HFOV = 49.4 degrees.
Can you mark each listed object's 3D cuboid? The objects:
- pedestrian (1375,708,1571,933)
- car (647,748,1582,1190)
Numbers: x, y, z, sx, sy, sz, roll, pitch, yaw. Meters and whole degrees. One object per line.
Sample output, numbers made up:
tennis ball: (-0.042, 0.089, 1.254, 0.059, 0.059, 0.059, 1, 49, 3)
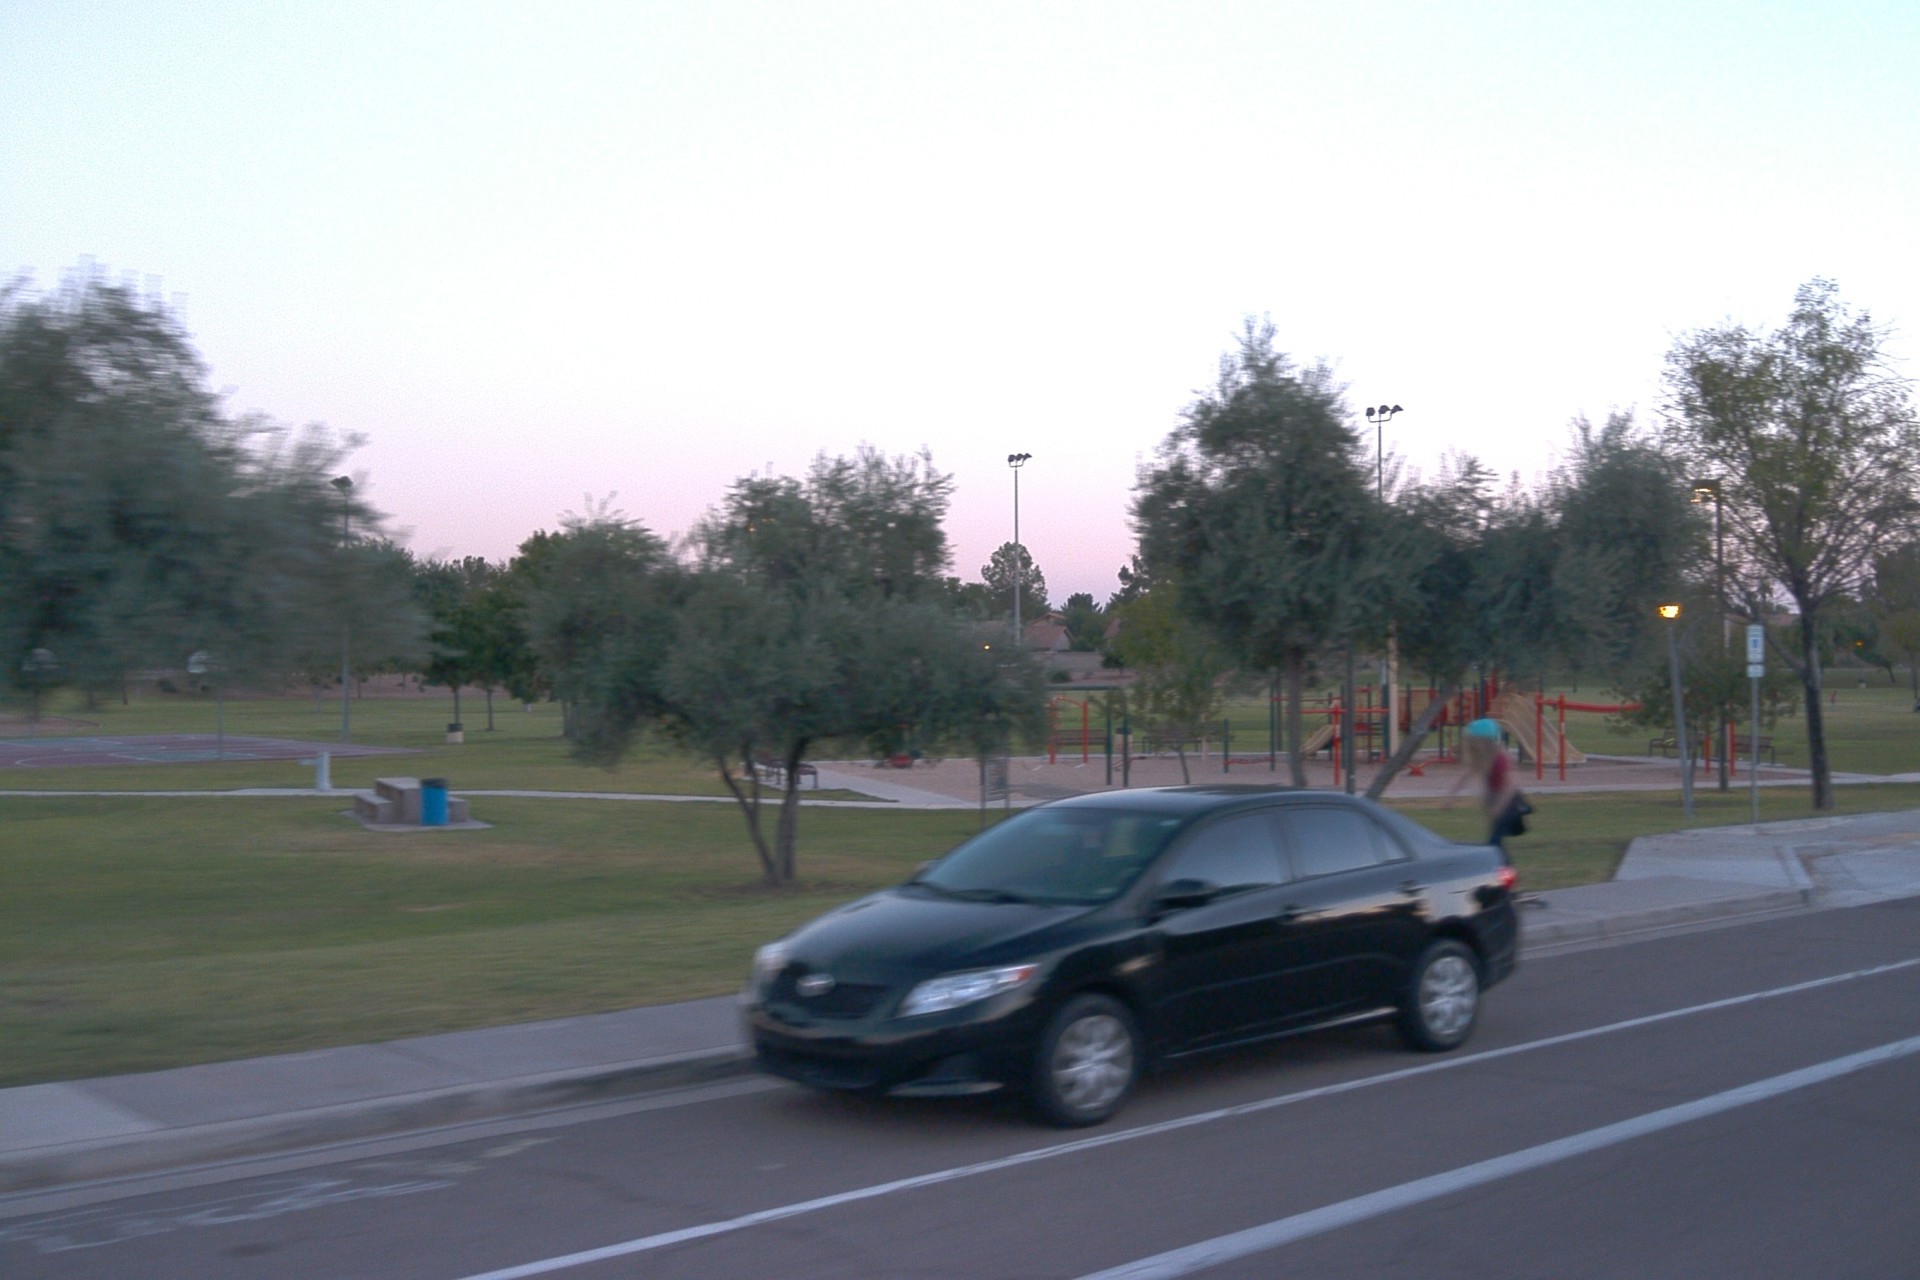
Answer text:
pedestrian: (4.068, 1.391, 16.568, 1.141, 1.660, 1.035, 1, 0, -42)
car: (0.959, 1.458, 10.811, 4.694, 1.580, 2.083, 0, 0, -40)
